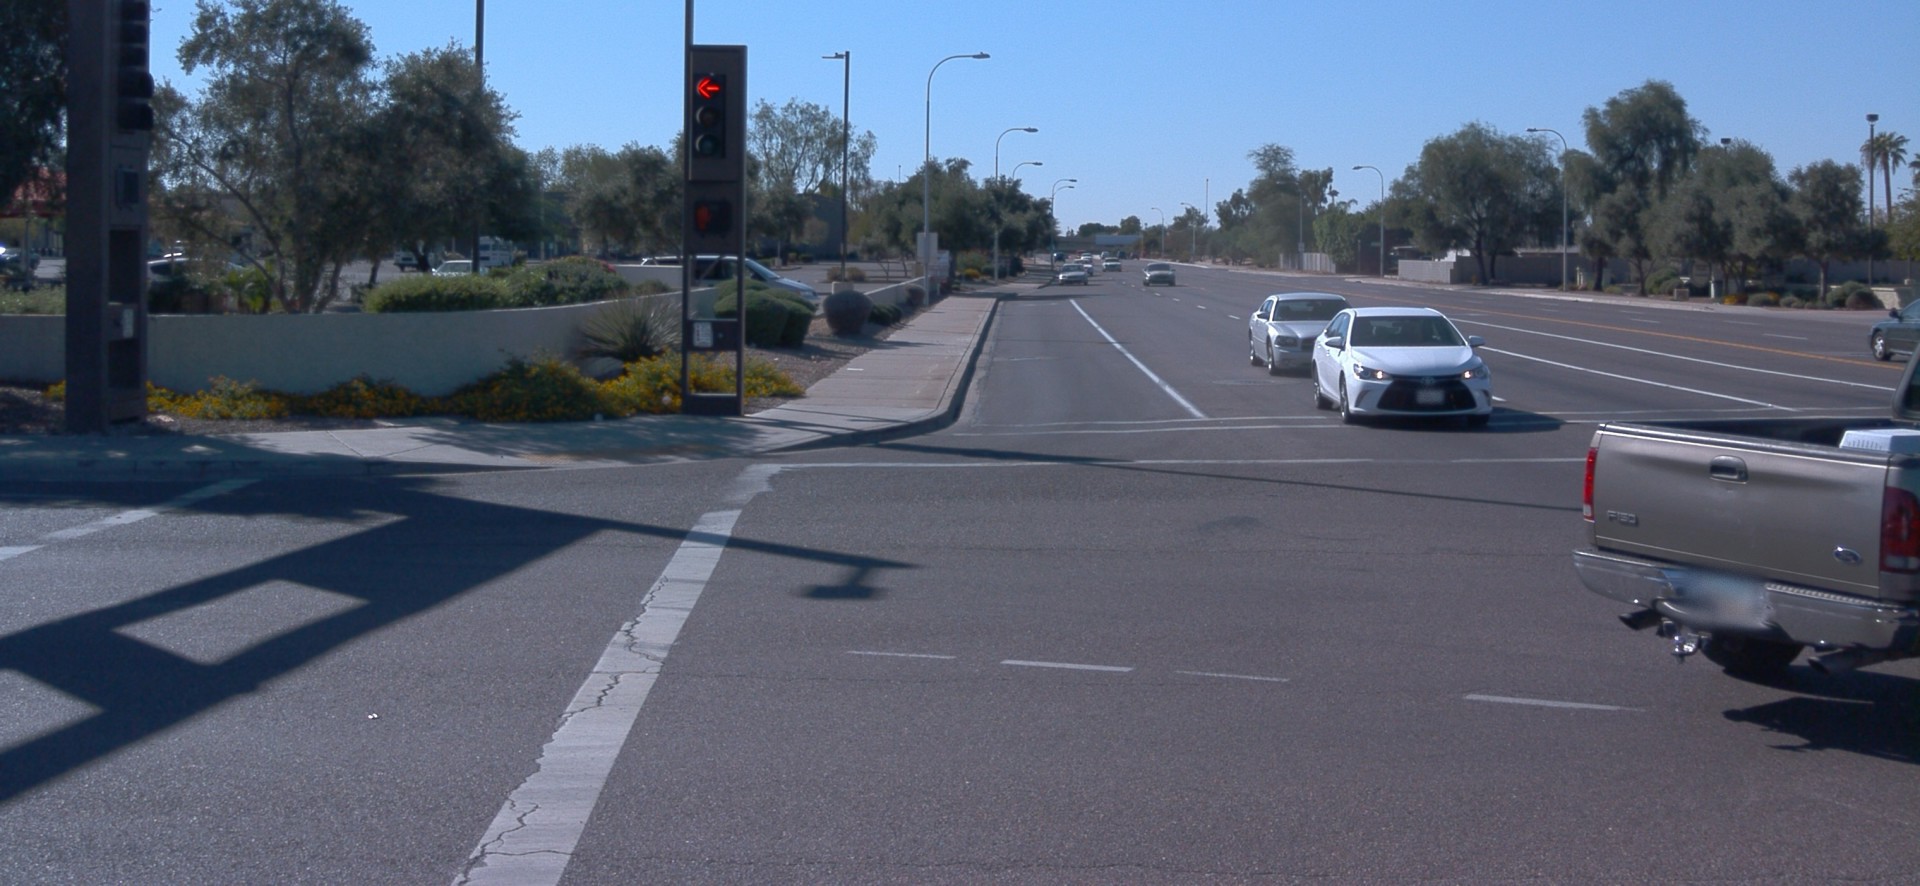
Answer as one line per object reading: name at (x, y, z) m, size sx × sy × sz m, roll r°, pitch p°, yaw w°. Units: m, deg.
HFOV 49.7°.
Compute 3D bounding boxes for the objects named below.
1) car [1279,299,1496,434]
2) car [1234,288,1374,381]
car at (5.672, -1.109, 28.104) m, size 2.108 × 1.493 × 4.815 m, roll 0°, pitch 5°, yaw 2°
car at (6.414, -2.105, 39.150) m, size 2.073 × 1.493 × 4.834 m, roll 0°, pitch 5°, yaw 2°
